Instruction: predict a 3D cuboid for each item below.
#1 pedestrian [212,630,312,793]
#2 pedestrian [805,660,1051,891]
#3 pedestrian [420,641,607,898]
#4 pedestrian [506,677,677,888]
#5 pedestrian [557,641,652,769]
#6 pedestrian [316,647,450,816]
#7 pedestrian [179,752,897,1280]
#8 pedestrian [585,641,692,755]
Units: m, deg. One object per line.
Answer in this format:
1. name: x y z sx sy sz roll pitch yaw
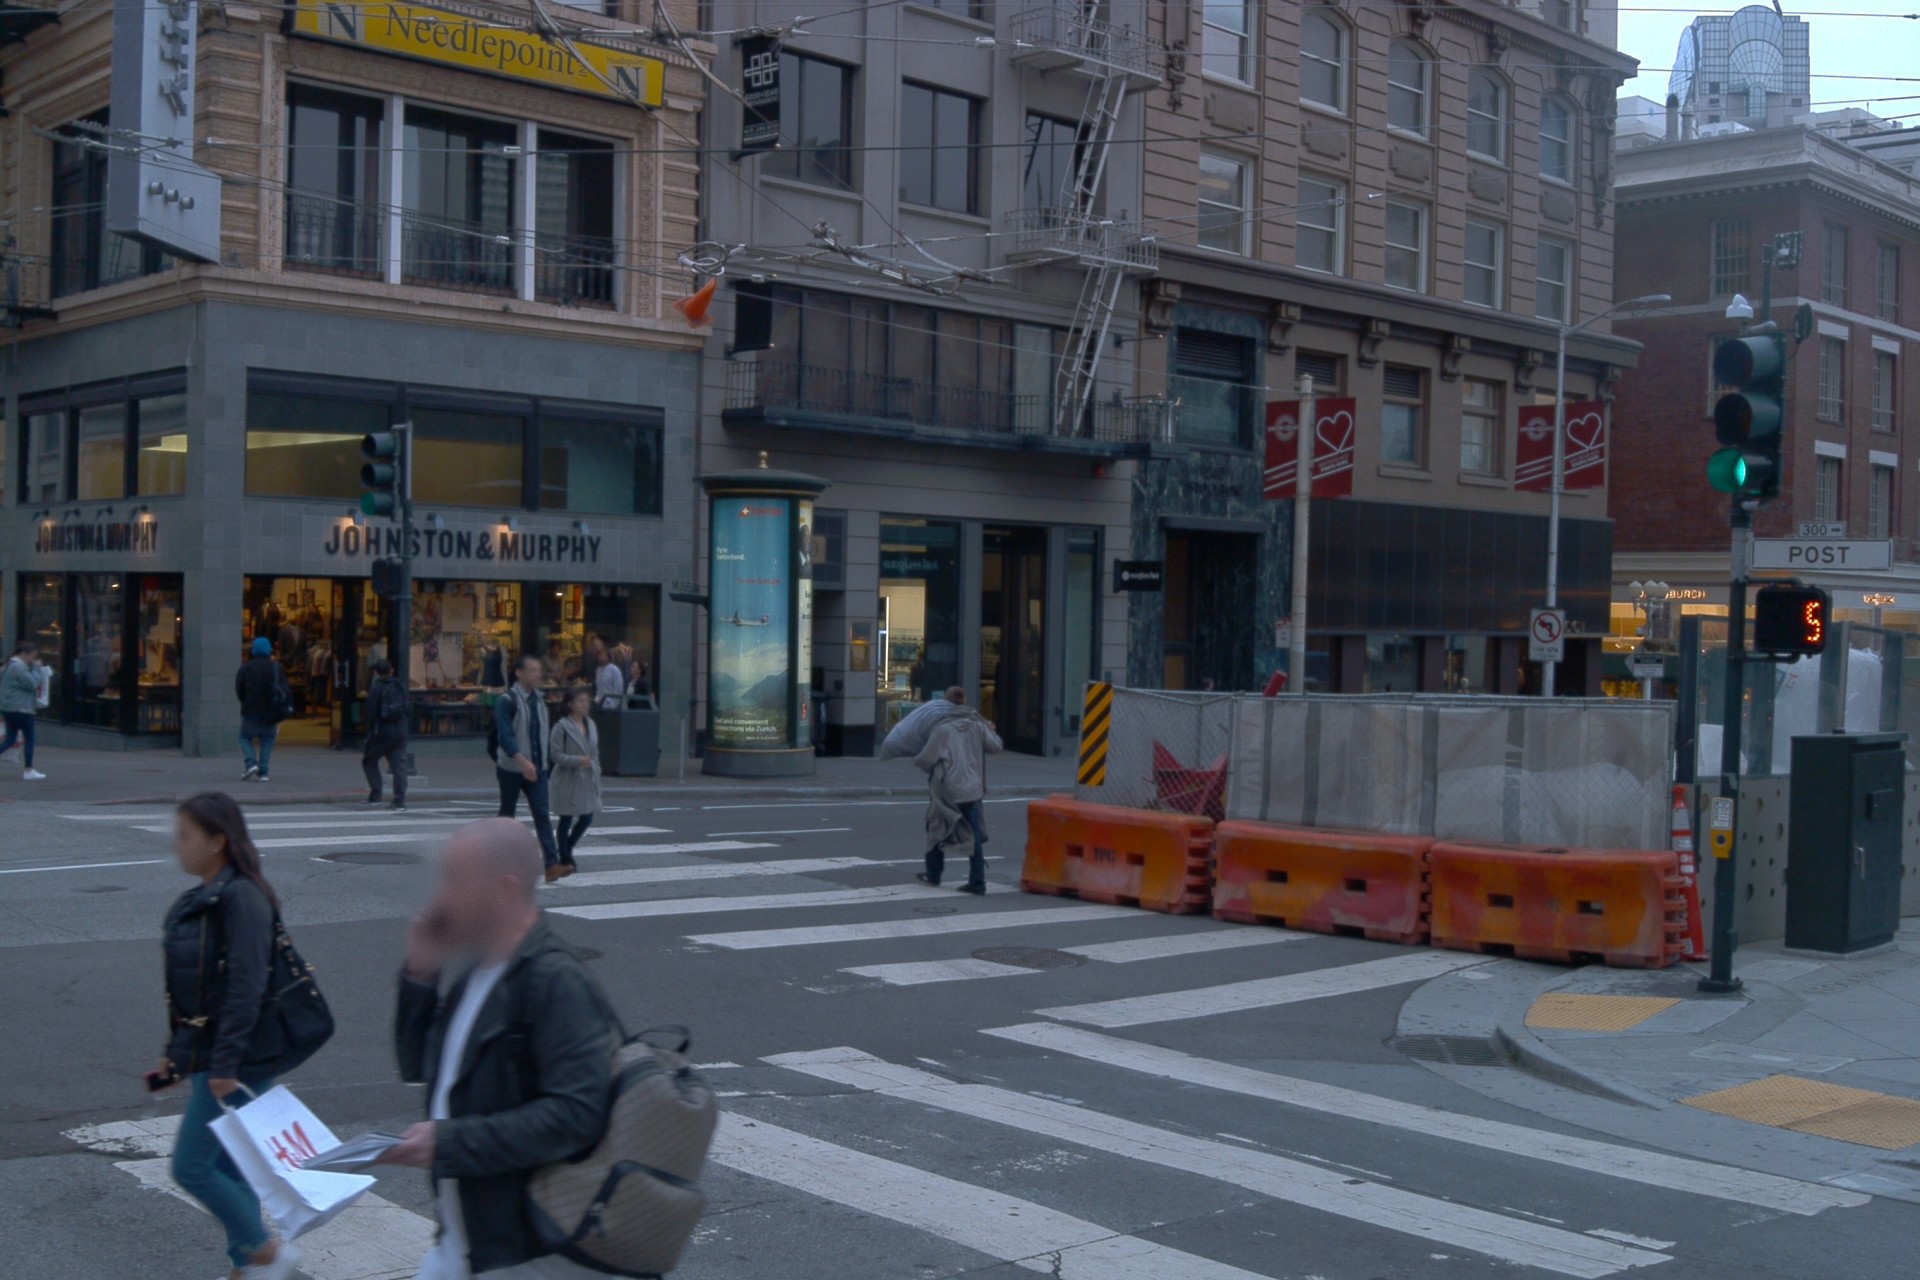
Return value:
1. pedestrian: -8.198 0.816 24.137 0.999 1.860 1.001 0 0 -25
2. pedestrian: -0.283 1.099 17.514 1.608 1.830 1.393 0 0 -31
3. pedestrian: -3.572 0.991 16.468 1.115 1.960 1.012 0 0 44
4. pedestrian: -3.069 1.150 17.136 1.115 1.660 0.918 0 0 43
5. pedestrian: -5.301 0.943 30.642 1.001 1.860 0.999 0 0 44
6. pedestrian: -6.259 0.964 22.322 1.164 1.770 0.890 0 0 38
7. pedestrian: -0.839 1.167 3.994 1.124 1.820 0.929 0 0 -30
8. pedestrian: -4.750 0.838 30.389 1.208 1.640 1.002 0 0 -42
